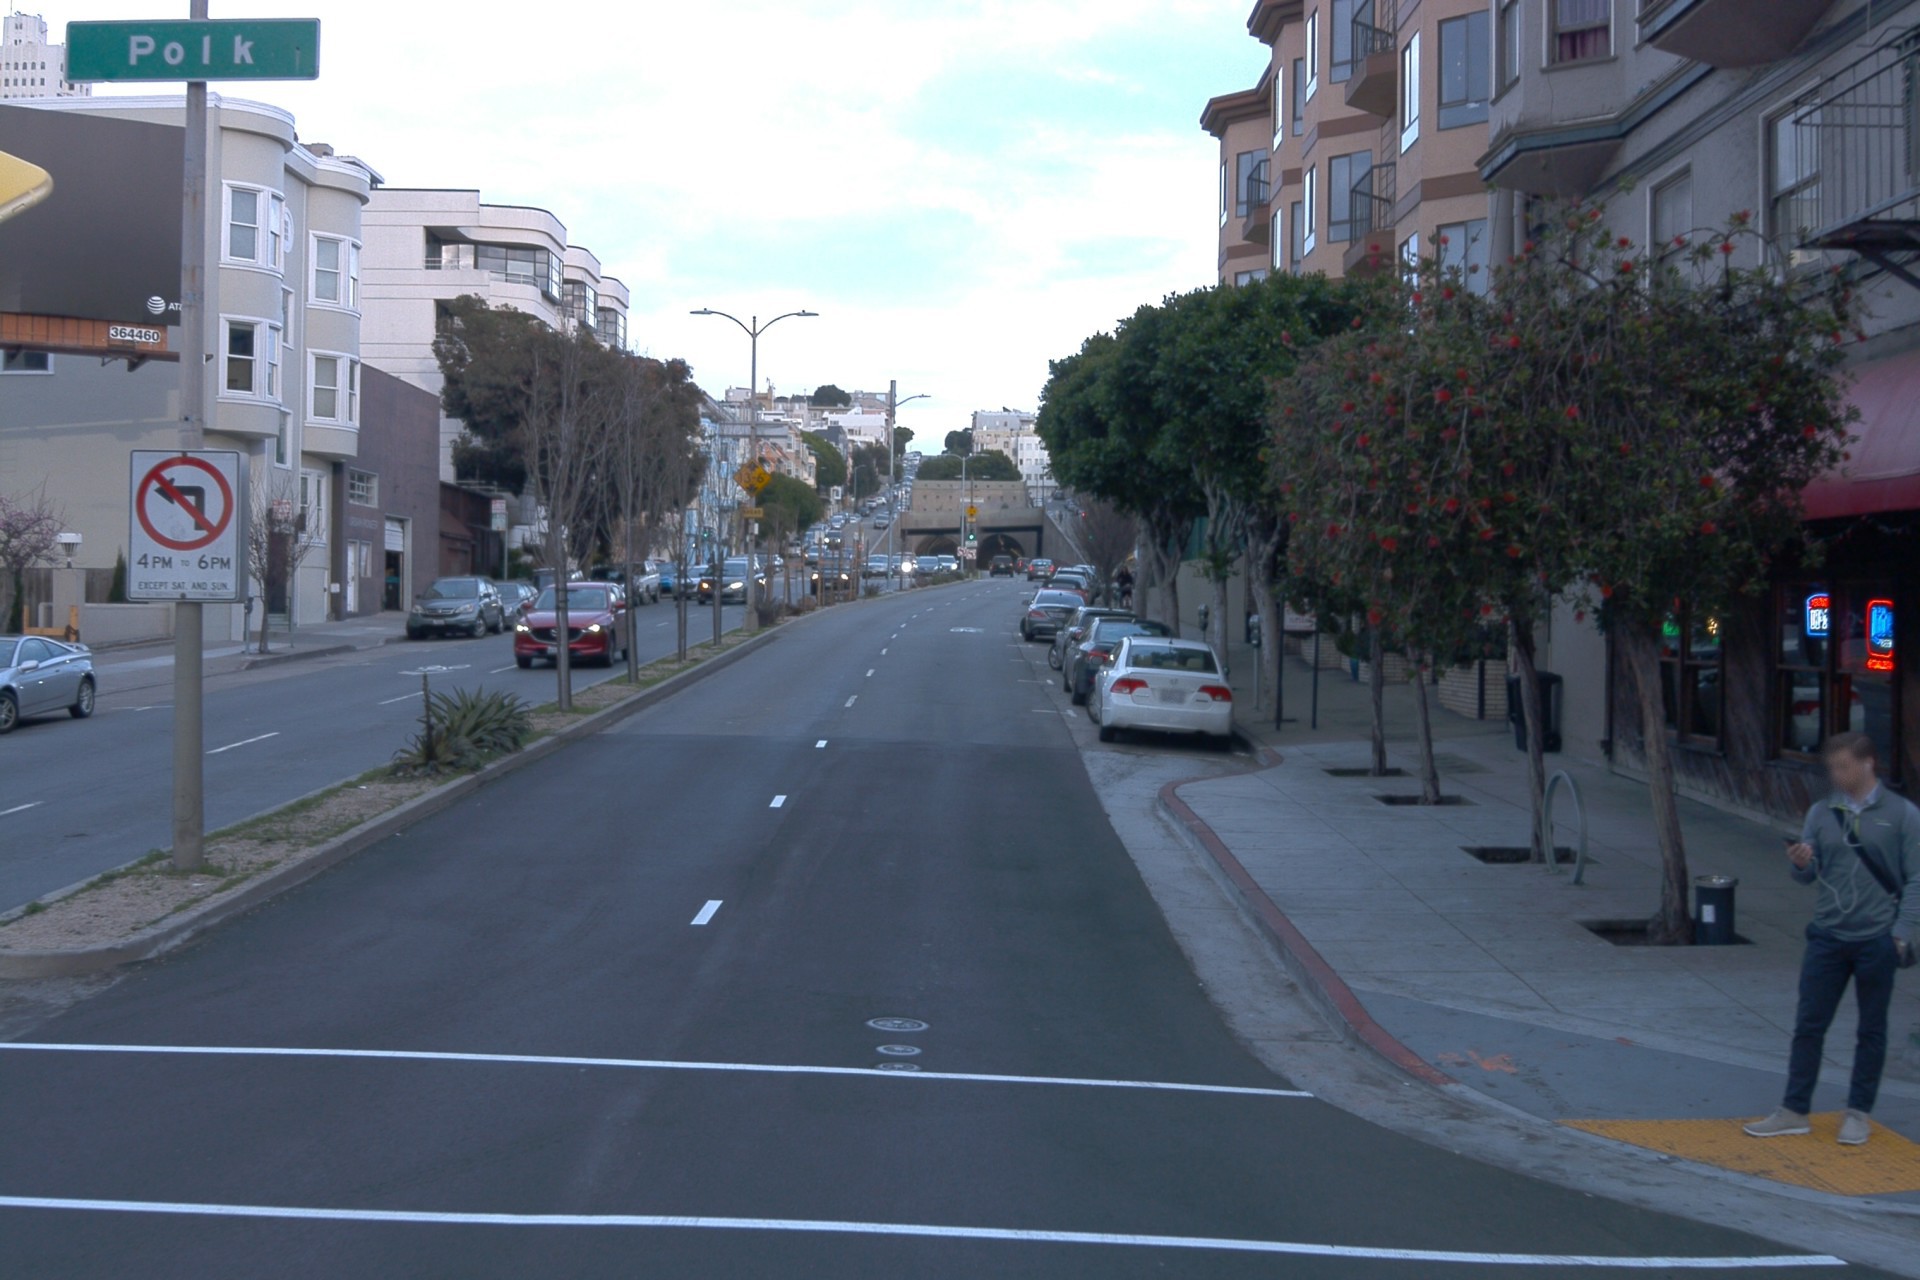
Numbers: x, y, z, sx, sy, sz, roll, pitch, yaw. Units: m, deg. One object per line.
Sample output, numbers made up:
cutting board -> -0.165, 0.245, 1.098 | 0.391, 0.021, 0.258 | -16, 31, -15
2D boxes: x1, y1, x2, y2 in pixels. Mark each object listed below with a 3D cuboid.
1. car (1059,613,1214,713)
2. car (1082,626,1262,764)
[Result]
car -> 2.876, 0.332, 34.701 | 2.151, 1.530, 5.003 | 1, 1, 0
car -> 2.863, 0.692, 28.824 | 2.061, 1.750, 4.614 | 1, 1, 1
